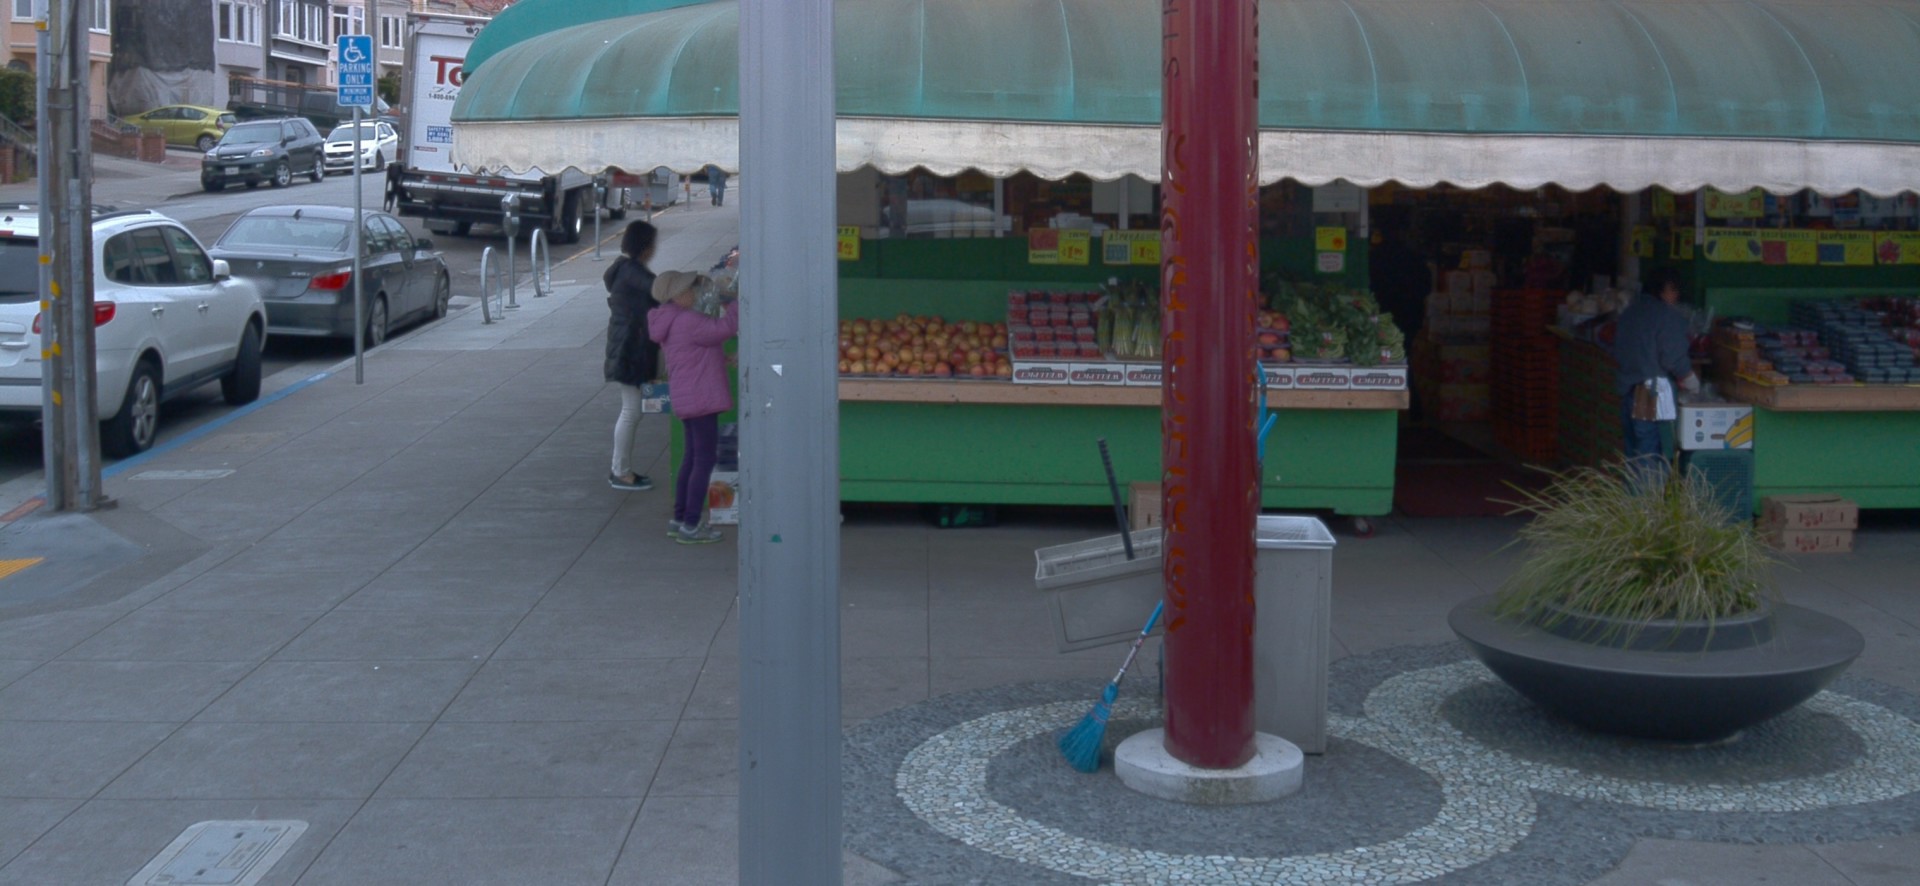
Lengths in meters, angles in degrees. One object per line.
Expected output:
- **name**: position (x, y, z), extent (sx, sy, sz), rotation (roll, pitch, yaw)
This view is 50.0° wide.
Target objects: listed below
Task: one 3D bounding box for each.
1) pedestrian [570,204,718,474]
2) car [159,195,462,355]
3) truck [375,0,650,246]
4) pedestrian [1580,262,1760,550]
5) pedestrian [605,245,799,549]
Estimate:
- **pedestrian**: position (-1.975, -0.673, 12.790), extent (0.796, 1.607, 0.823), rotation (-1, 2, -17)
- **car**: position (-6.744, -1.846, 21.924), extent (1.969, 1.513, 4.609), rotation (0, 6, -3)
- **truck**: position (-7.676, -5.479, 36.858), extent (2.914, 3.770, 10.115), rotation (0, 5, -1)
- **pedestrian**: position (3.987, -0.236, 11.605), extent (0.743, 1.557, 0.755), rotation (0, 2, 0)
- **pedestrian**: position (-1.401, -0.286, 11.168), extent (0.798, 1.564, 0.705), rotation (-2, 2, -37)
